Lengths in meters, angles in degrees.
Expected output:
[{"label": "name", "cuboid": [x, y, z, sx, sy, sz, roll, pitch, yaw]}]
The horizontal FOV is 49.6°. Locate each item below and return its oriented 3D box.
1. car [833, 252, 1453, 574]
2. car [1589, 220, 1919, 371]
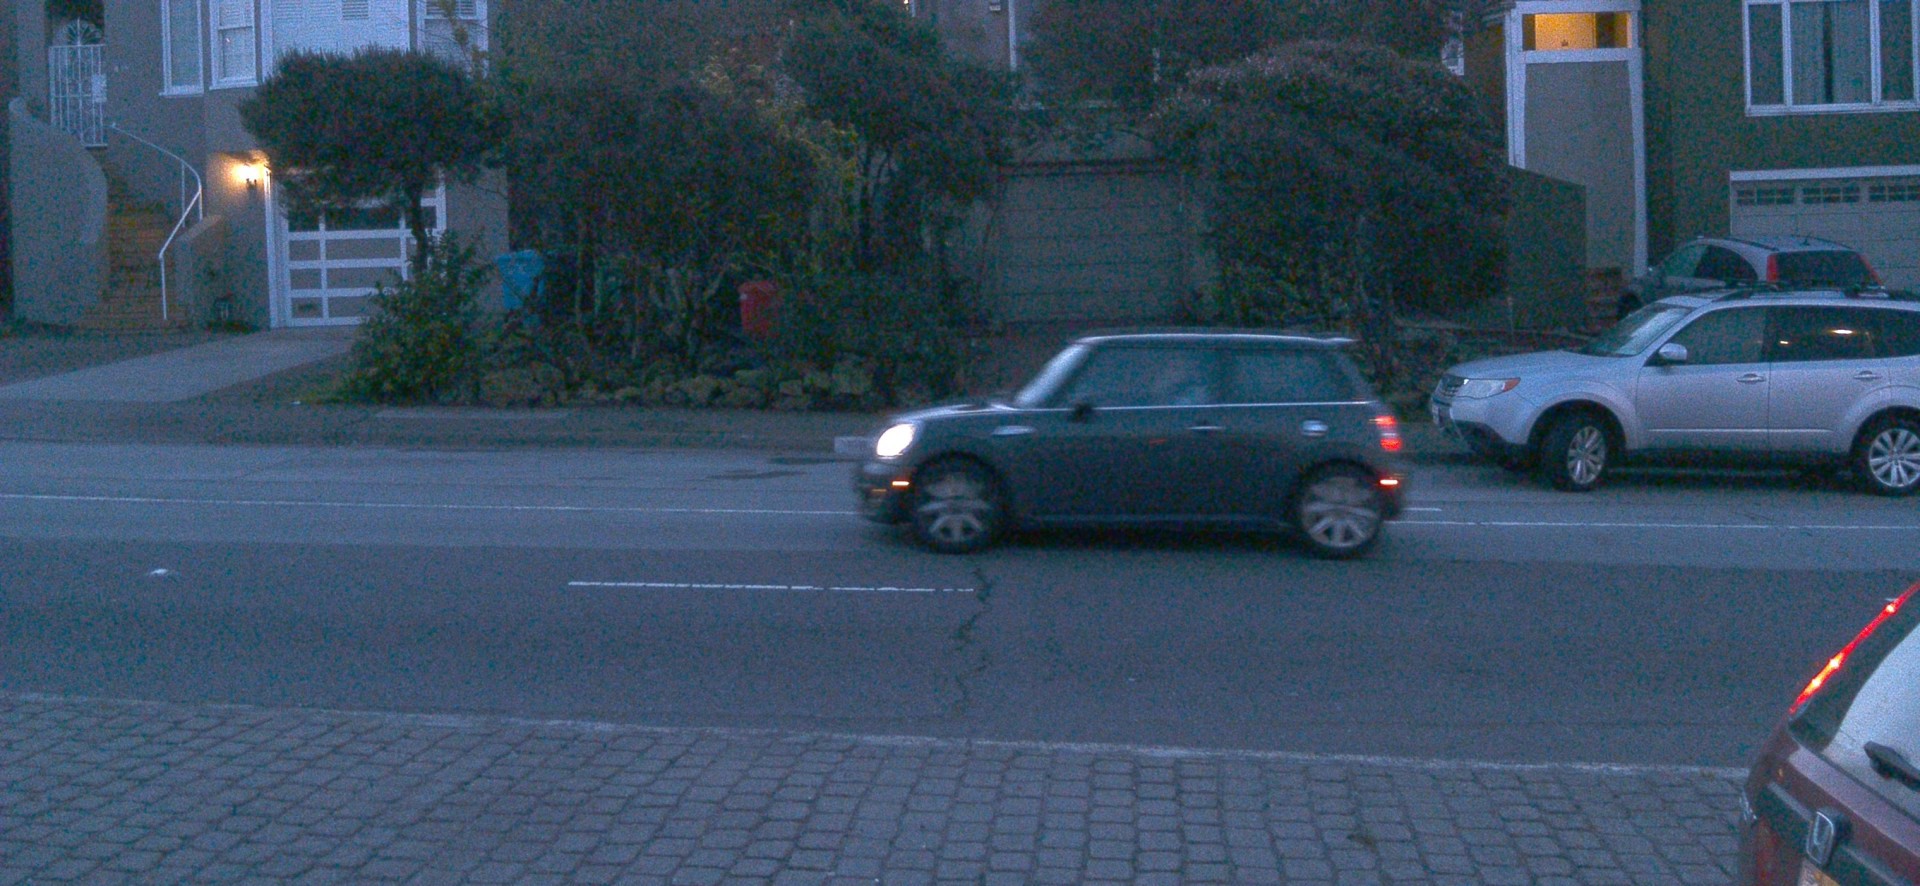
[{"label": "car", "cuboid": [1.145, -0.269, 13.681, 3.785, 1.885, 1.820, 1, 4, 0]}, {"label": "car", "cuboid": [9.698, -1.909, 25.786, 1.986, 1.661, 4.471, 0, 6, -7]}]
